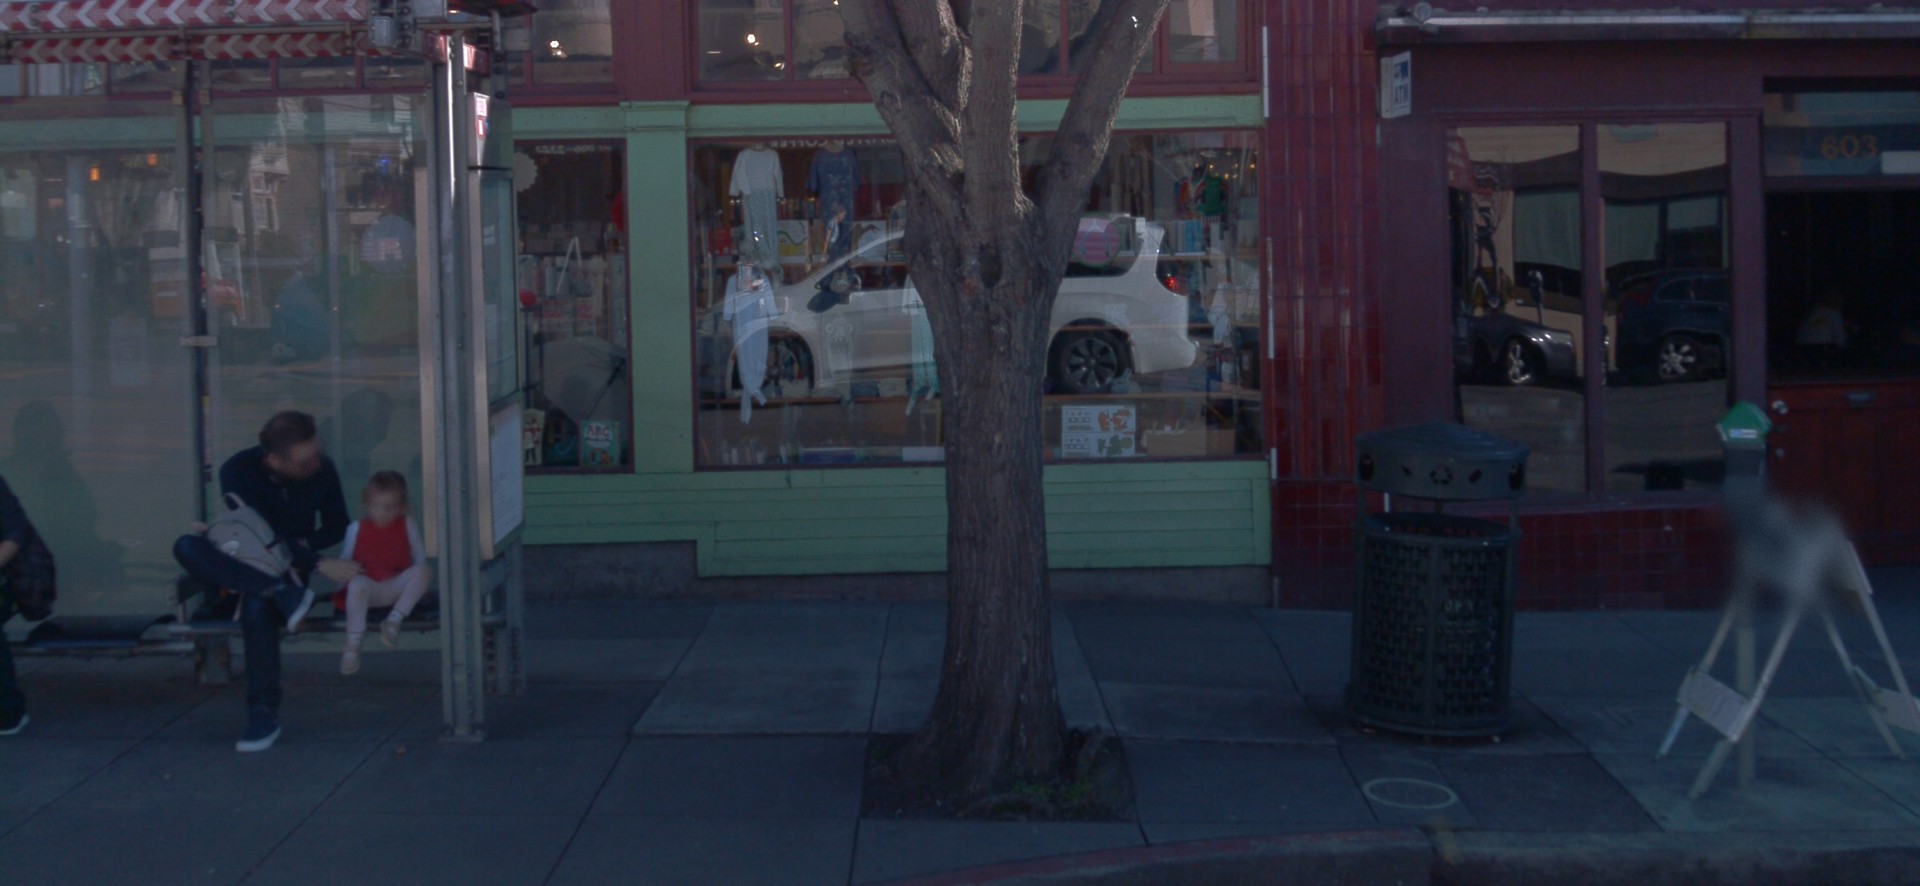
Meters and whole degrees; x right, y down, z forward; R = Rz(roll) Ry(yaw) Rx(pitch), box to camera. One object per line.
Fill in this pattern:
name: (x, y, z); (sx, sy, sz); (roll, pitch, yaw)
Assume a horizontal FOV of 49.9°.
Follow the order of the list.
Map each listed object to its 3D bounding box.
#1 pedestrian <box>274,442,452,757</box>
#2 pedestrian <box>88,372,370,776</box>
pedestrian: (-2.286, 0.580, 7.950); (0.528, 1.098, 0.572); (0, 2, -3)
pedestrian: (-2.792, 0.461, 7.979); (0.753, 1.398, 0.926); (0, 2, -1)
